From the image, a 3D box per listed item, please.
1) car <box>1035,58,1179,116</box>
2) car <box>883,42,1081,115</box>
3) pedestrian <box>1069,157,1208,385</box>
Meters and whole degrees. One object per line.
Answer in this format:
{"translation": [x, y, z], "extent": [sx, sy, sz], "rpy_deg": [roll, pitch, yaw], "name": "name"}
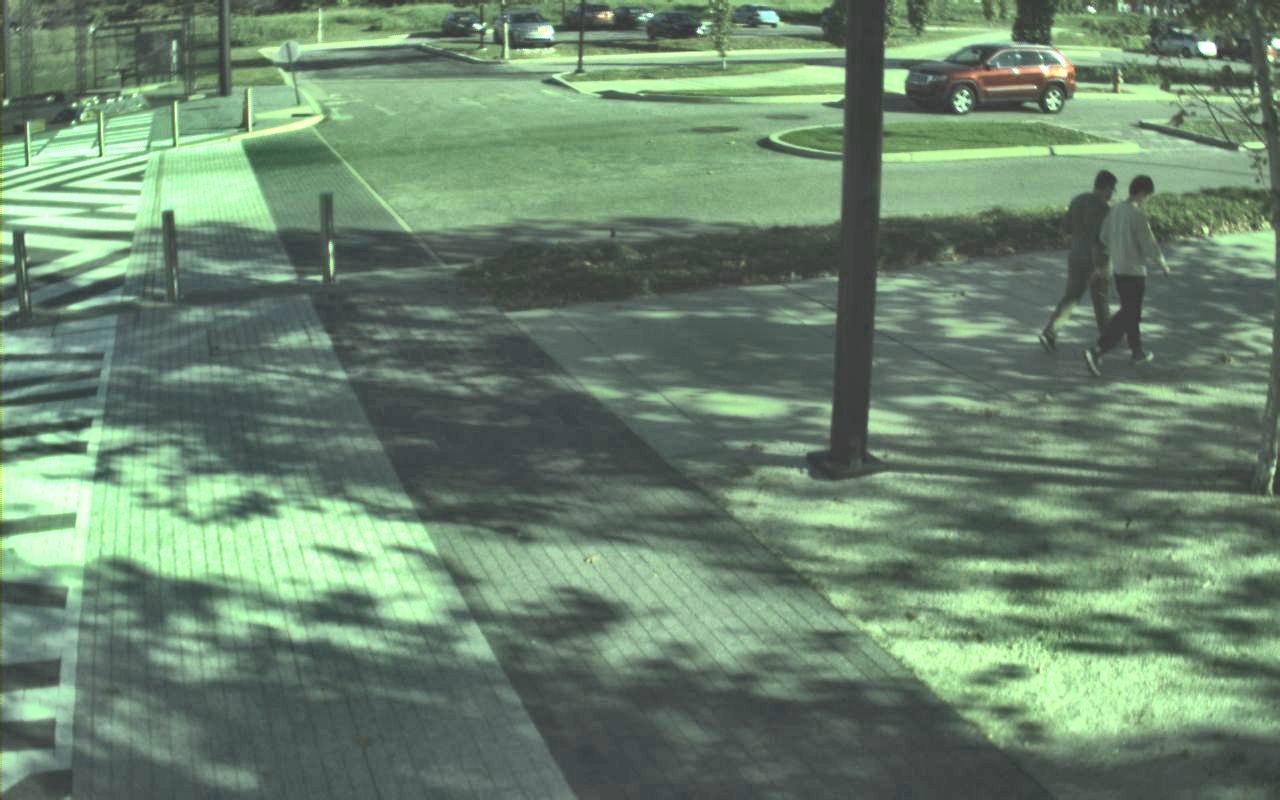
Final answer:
{"translation": [14.613, -9.686, 36.314], "extent": [4.537, 1.584, 1.946], "rpy_deg": [-6, 17, -17], "name": "car"}
{"translation": [8.708, -8.100, 30.339], "extent": [4.885, 1.681, 2.047], "rpy_deg": [-7, 17, -18], "name": "car"}
{"translation": [4.249, -1.116, 10.053], "extent": [0.858, 1.786, 0.789], "rpy_deg": [-5, 16, -14], "name": "pedestrian"}
